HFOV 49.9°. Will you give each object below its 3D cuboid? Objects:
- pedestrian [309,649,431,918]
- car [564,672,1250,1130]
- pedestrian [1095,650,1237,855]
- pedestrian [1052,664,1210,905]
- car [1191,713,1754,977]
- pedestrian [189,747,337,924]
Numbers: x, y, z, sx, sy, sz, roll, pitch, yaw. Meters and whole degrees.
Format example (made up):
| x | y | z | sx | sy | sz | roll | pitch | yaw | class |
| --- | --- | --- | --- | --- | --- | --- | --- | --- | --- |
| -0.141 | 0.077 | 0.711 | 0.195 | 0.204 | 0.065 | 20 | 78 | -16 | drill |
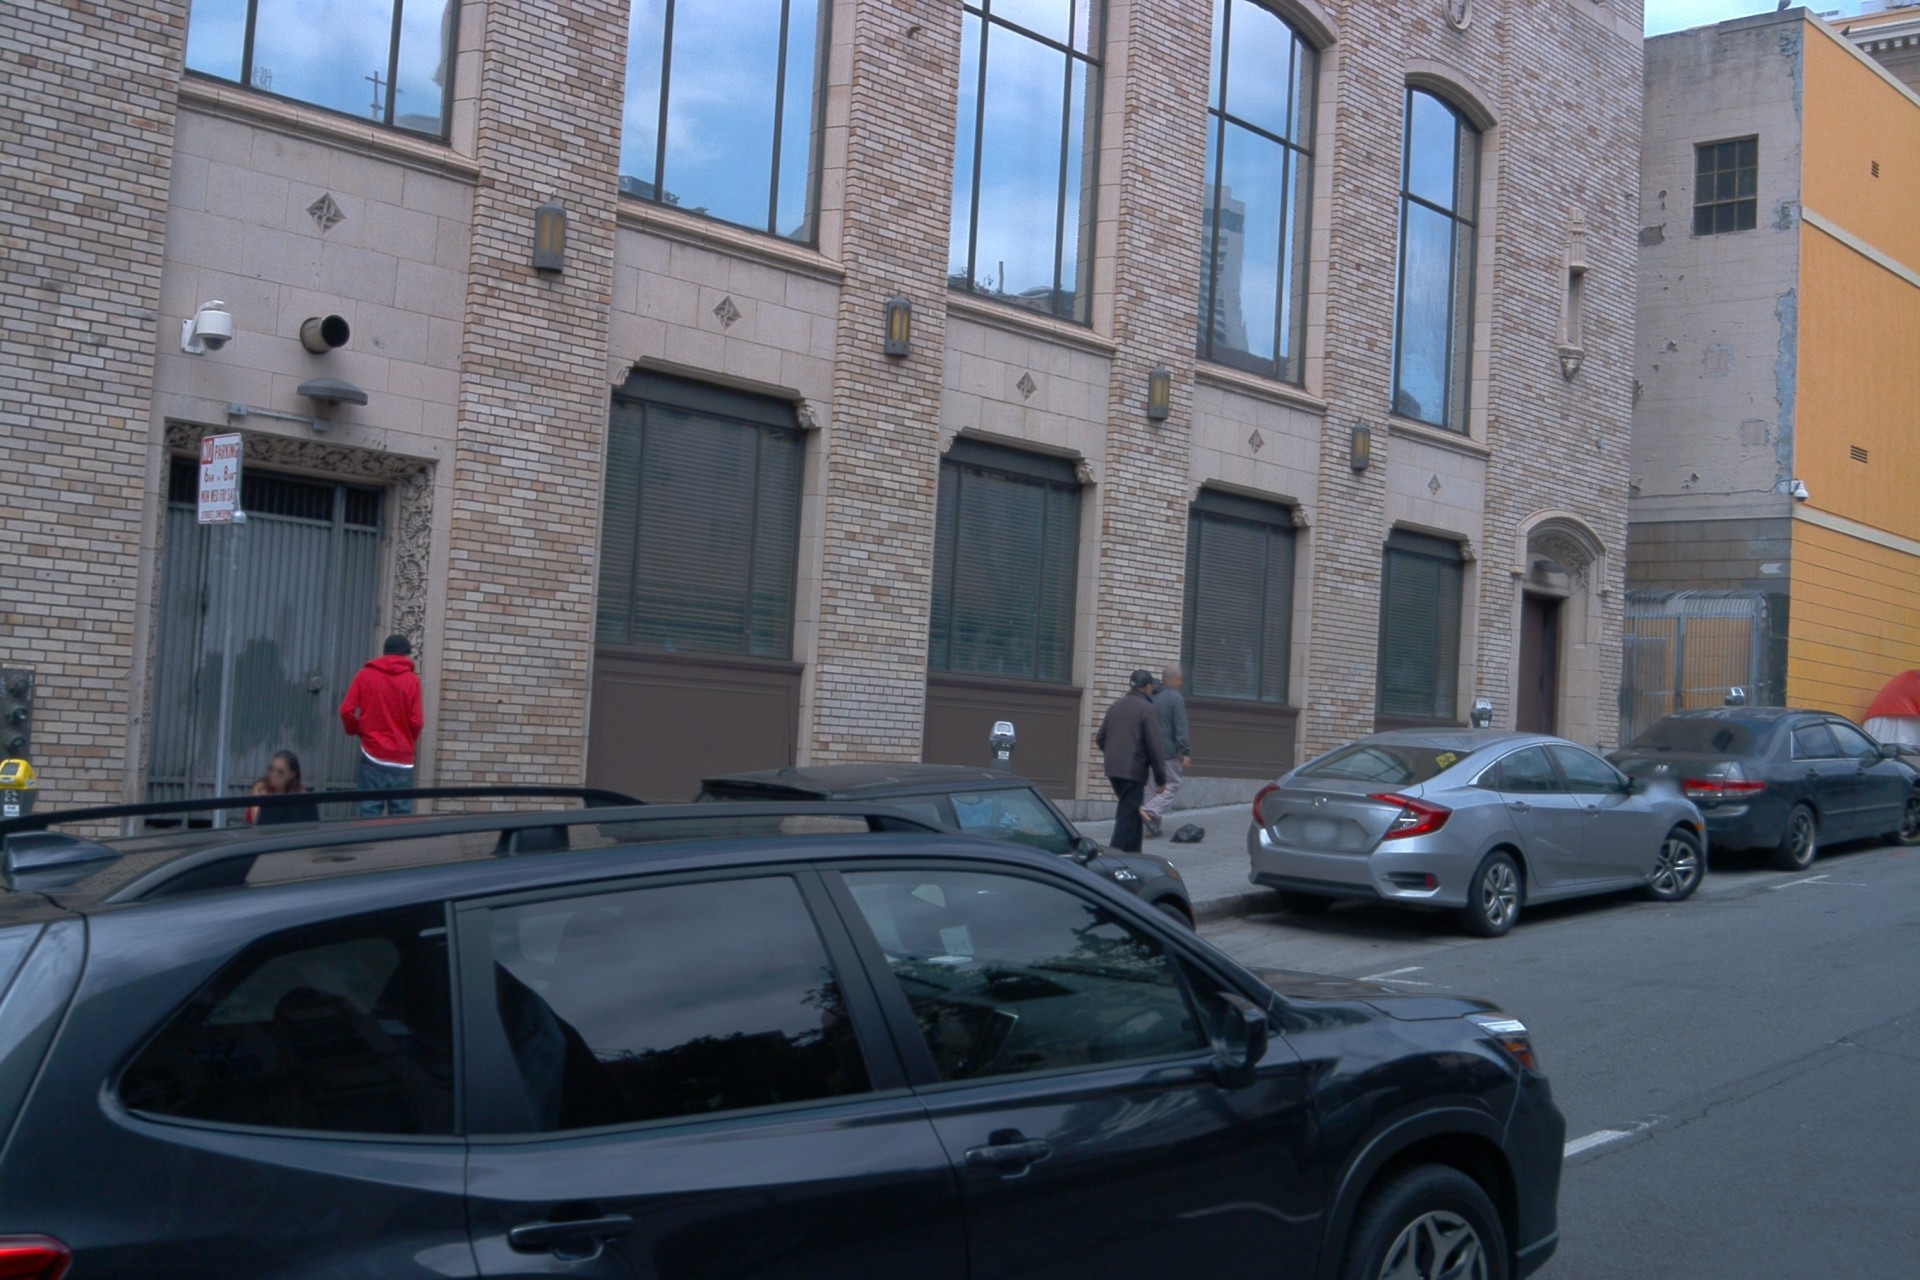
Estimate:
| x | y | z | sx | sy | sz | roll | pitch | yaw | class |
| --- | --- | --- | --- | --- | --- | --- | --- | --- | --- |
| -4.122 | 0.974 | 14.413 | 0.786 | 1.800 | 0.728 | 0 | 1 | -17 | pedestrian |
| -0.143 | 1.226 | 11.437 | 1.729 | 1.980 | 3.770 | 1 | 1 | 40 | car |
| 1.880 | 0.994 | 18.800 | 0.923 | 1.780 | 0.899 | -1 | 1 | -44 | pedestrian |
| 1.354 | 1.110 | 16.364 | 0.870 | 1.810 | 0.897 | -1 | 1 | -43 | pedestrian |
| 4.114 | 1.440 | 16.054 | 4.714 | 1.510 | 2.106 | -1 | 1 | -45 | car |
| -4.684 | 1.294 | 13.876 | 0.713 | 1.080 | 0.681 | 1 | 1 | 43 | pedestrian |
